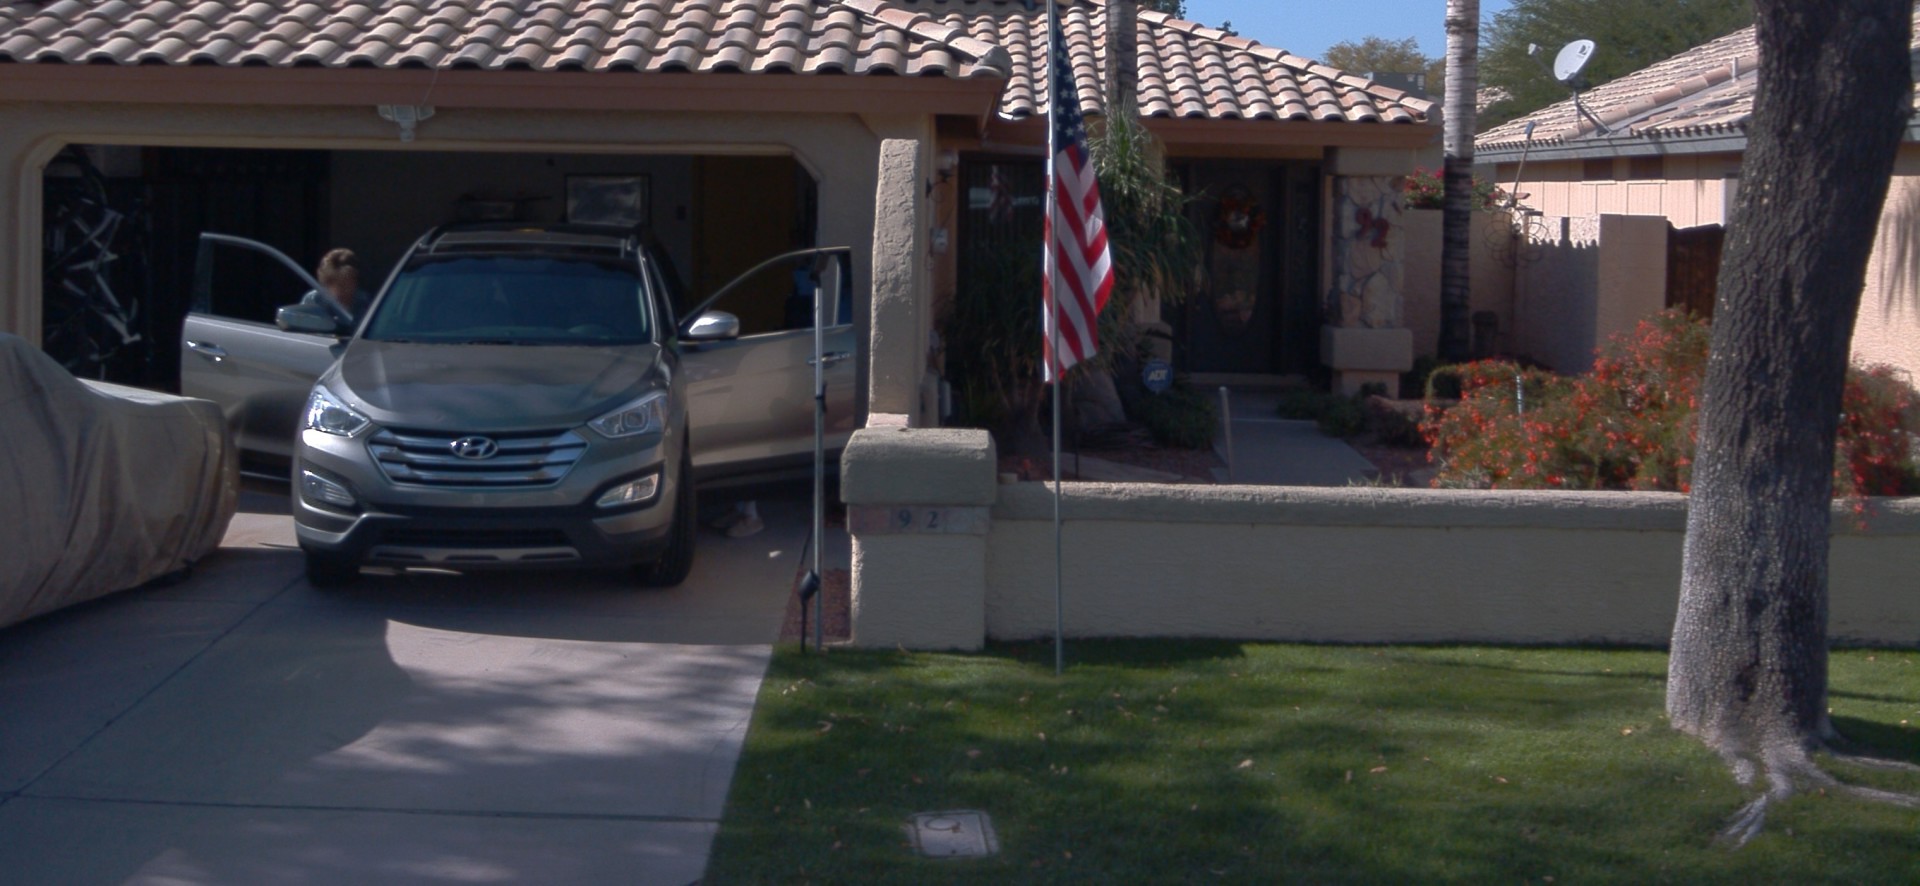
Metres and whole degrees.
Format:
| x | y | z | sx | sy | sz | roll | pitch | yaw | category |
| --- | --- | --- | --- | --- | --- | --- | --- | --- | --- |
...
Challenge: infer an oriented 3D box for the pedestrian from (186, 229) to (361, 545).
| x | y | z | sx | sy | sz | roll | pitch | yaw | category |
| --- | --- | --- | --- | --- | --- | --- | --- | --- | --- |
| -3.714 | -0.339 | 11.224 | 0.659 | 1.629 | 0.708 | 0 | 2 | -42 | pedestrian |

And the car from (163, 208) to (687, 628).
| x | y | z | sx | sy | sz | roll | pitch | yaw | category |
| --- | --- | --- | --- | --- | --- | --- | --- | --- | --- |
| -2.628 | -0.348 | 11.342 | 1.979 | 1.812 | 4.571 | 0 | 5 | -4 | car |
